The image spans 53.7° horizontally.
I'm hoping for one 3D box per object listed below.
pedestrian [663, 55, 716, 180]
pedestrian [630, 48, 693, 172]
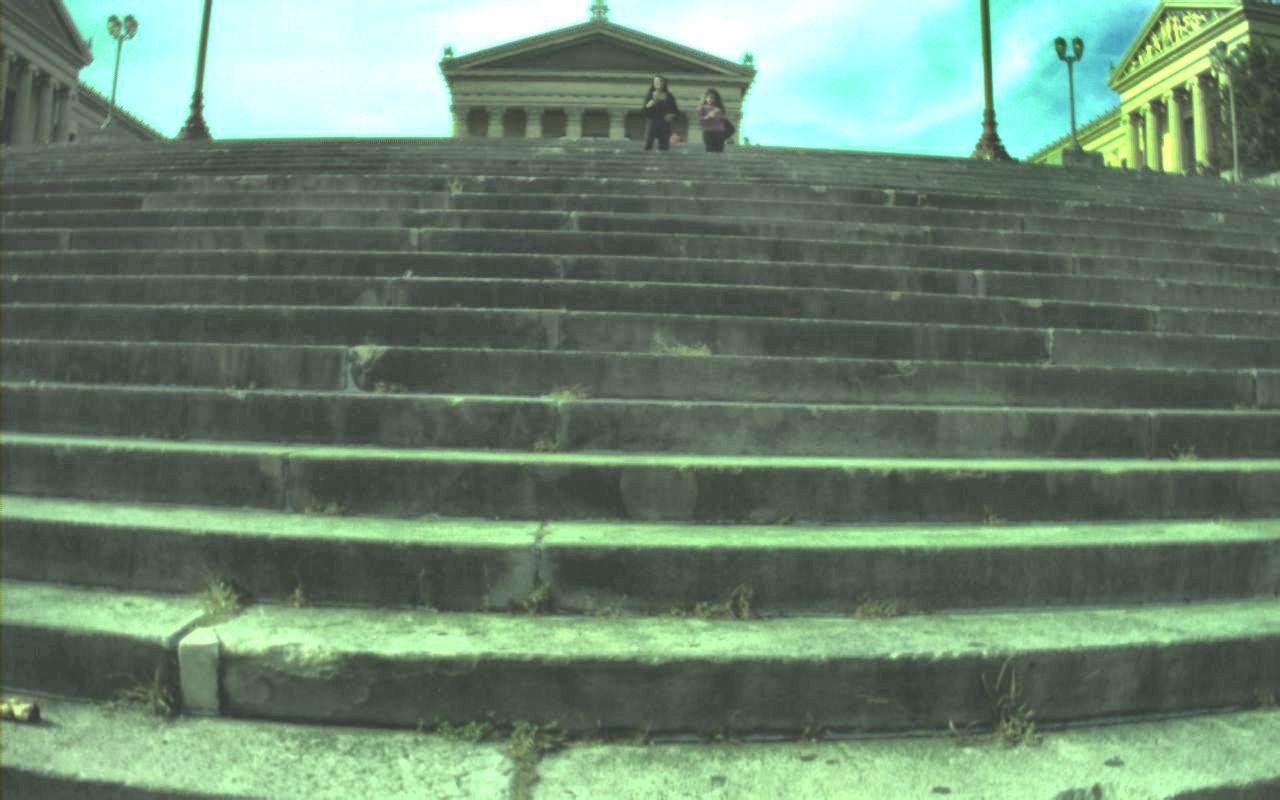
[{"bbox_3d":[0.769,-4.343,19.191,0.688,1.838,0.678,0,0,13],"label":"pedestrian"},{"bbox_3d":[0.332,-4.479,19.312,0.682,1.795,0.675,1,0,43],"label":"pedestrian"}]
